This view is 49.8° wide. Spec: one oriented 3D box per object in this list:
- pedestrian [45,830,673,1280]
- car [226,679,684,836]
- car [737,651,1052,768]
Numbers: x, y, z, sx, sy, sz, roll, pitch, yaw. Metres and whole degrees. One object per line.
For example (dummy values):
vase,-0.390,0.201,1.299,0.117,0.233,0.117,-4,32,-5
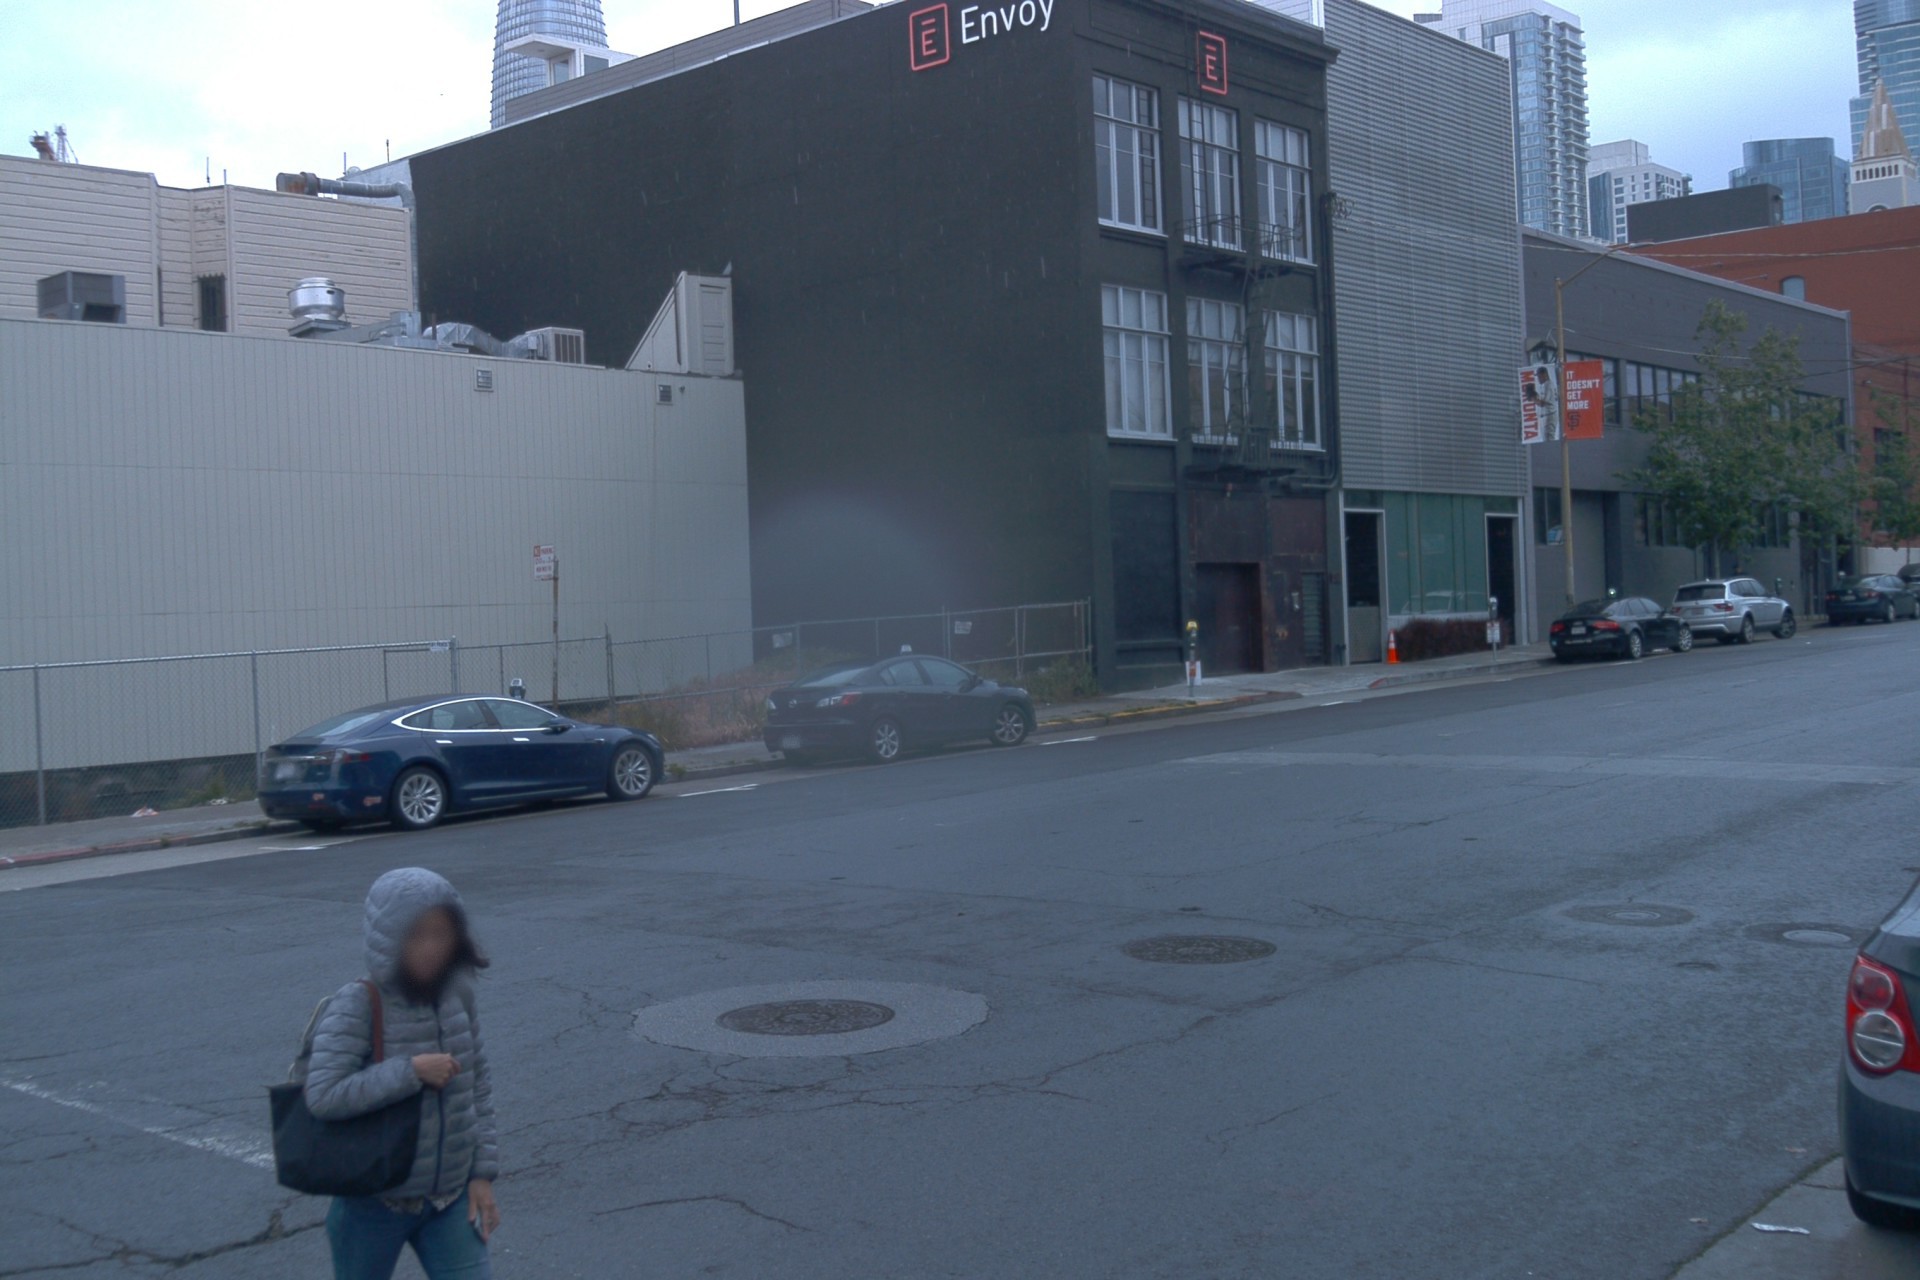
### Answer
pedestrian,-1.386,1.280,4.807,1.007,1.560,0.993,0,-1,40
car,-5.581,1.236,23.409,2.011,1.550,4.769,0,-1,40
car,-0.845,0.917,28.918,2.005,1.500,4.289,0,-1,41
